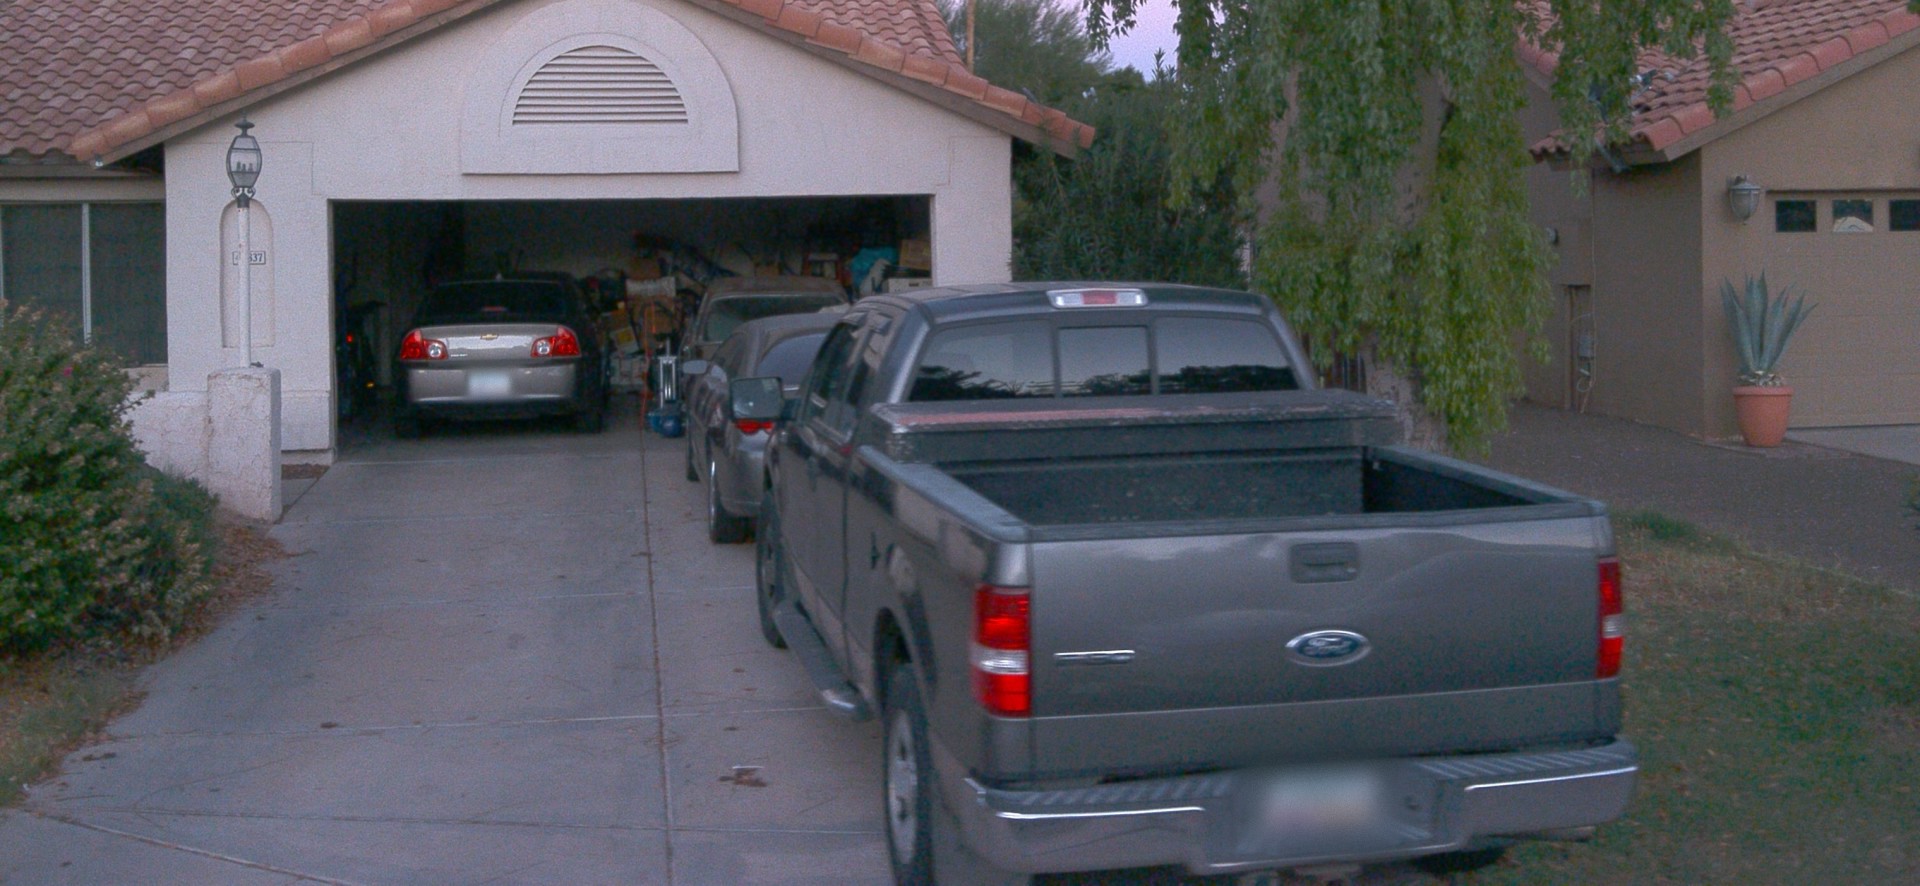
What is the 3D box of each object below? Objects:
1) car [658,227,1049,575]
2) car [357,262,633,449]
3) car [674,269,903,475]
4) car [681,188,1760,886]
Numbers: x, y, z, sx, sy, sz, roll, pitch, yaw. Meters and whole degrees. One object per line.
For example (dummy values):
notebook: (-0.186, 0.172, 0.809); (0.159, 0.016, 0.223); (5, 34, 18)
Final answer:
car: (-0.925, -0.472, 14.086); (2.030, 1.924, 4.751); (-1, 5, -11)
car: (-4.209, -0.923, 19.434); (2.005, 1.485, 4.479); (-1, 5, -6)
car: (-1.745, -0.795, 19.705); (1.909, 1.650, 4.613); (-1, 5, -8)
car: (0.356, 0.127, 8.209); (2.509, 2.093, 5.850); (-1, 5, -11)
